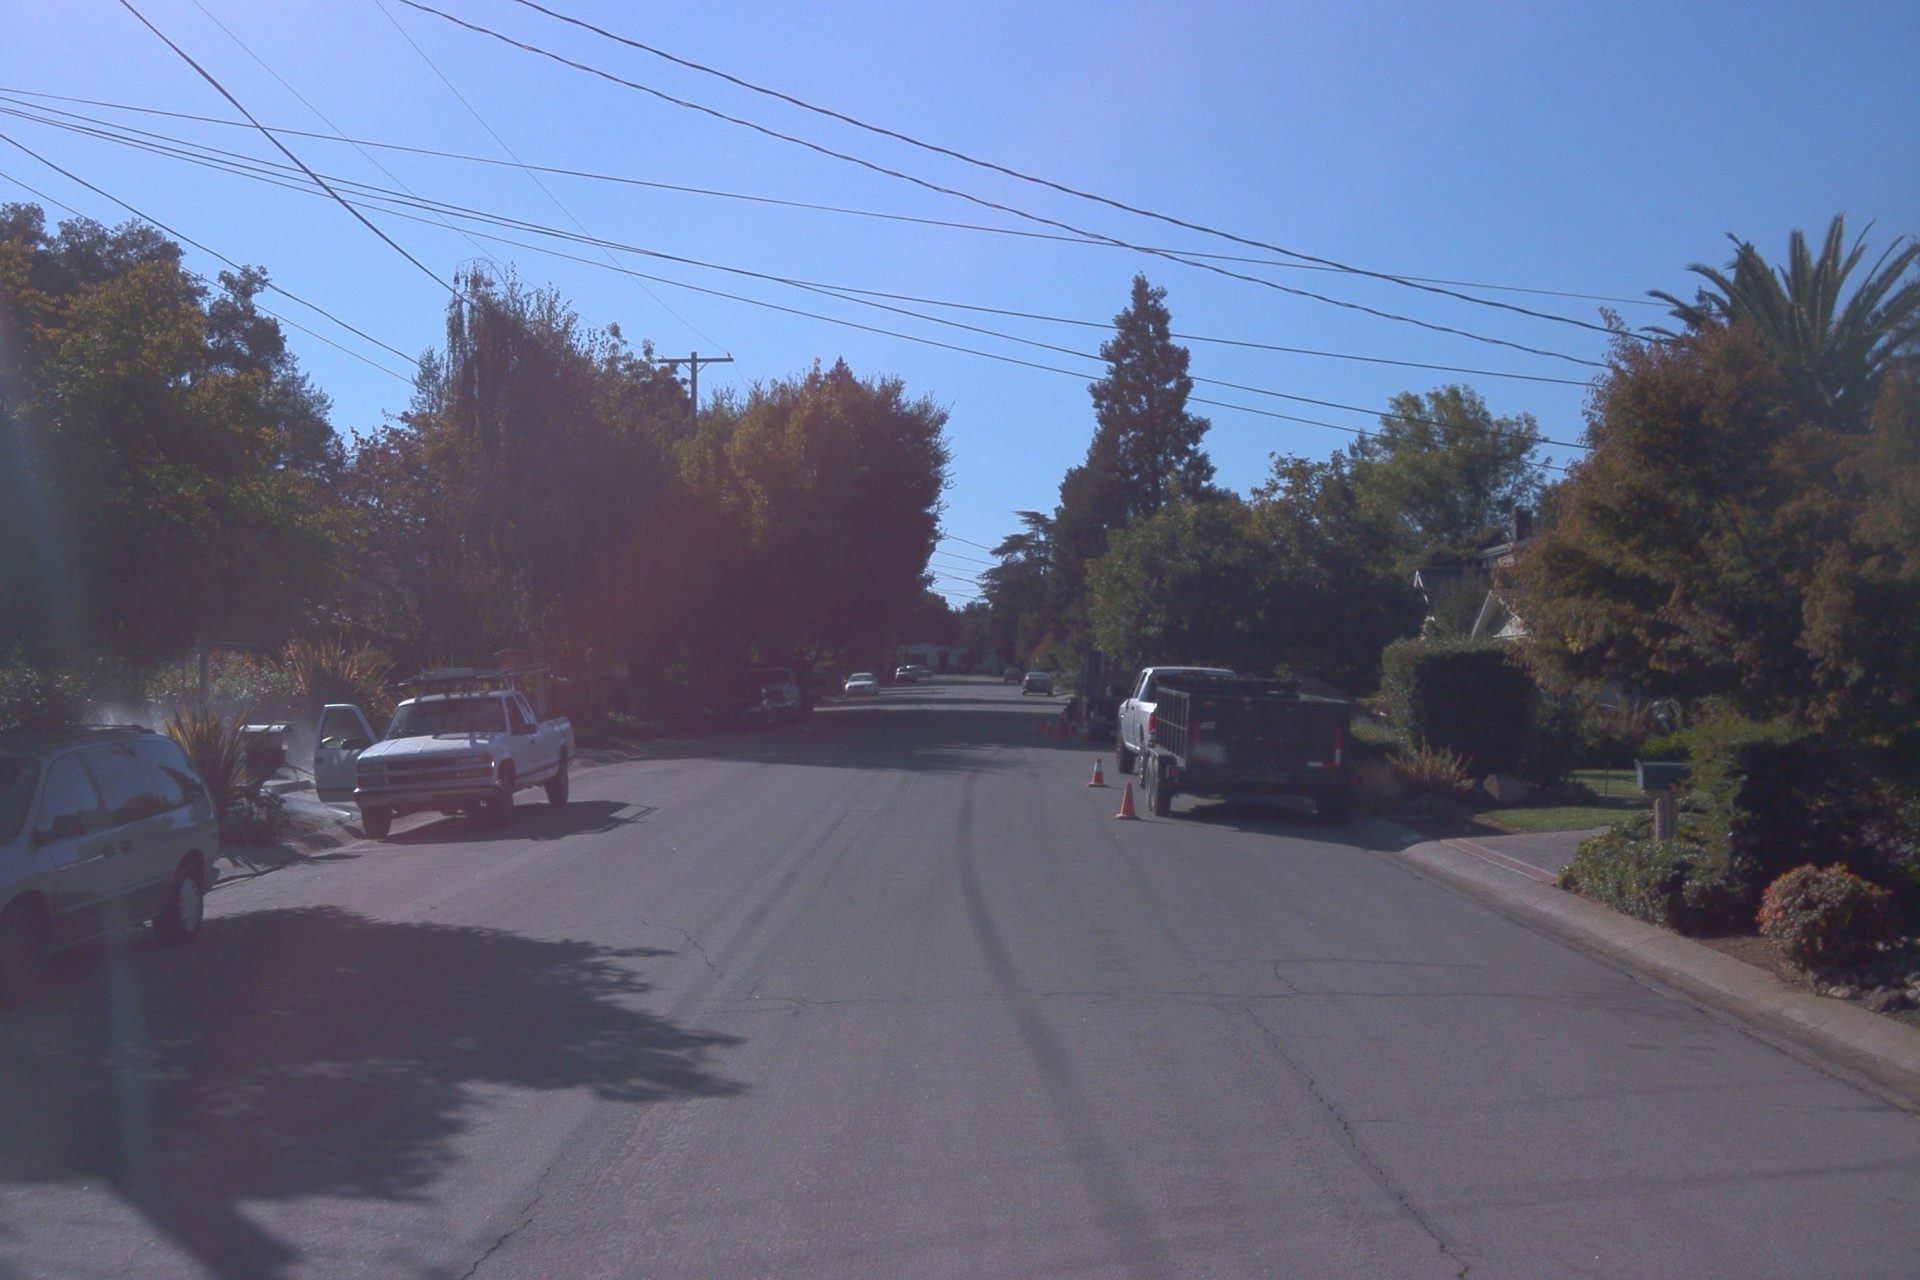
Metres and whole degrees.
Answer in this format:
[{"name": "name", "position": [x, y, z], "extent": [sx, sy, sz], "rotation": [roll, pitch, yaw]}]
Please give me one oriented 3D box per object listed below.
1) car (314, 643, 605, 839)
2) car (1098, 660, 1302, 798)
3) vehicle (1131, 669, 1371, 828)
[{"name": "car", "position": [-6.913, 1.314, 29.538], "extent": [2.573, 2.500, 6.407], "rotation": [0, -1, 0]}, {"name": "car", "position": [4.004, 1.430, 35.893], "extent": [2.702, 2.160, 6.634], "rotation": [0, -1, -1]}, {"name": "vehicle", "position": [3.966, 1.425, 29.280], "extent": [2.722, 2.020, 5.259], "rotation": [0, -1, 1]}]
